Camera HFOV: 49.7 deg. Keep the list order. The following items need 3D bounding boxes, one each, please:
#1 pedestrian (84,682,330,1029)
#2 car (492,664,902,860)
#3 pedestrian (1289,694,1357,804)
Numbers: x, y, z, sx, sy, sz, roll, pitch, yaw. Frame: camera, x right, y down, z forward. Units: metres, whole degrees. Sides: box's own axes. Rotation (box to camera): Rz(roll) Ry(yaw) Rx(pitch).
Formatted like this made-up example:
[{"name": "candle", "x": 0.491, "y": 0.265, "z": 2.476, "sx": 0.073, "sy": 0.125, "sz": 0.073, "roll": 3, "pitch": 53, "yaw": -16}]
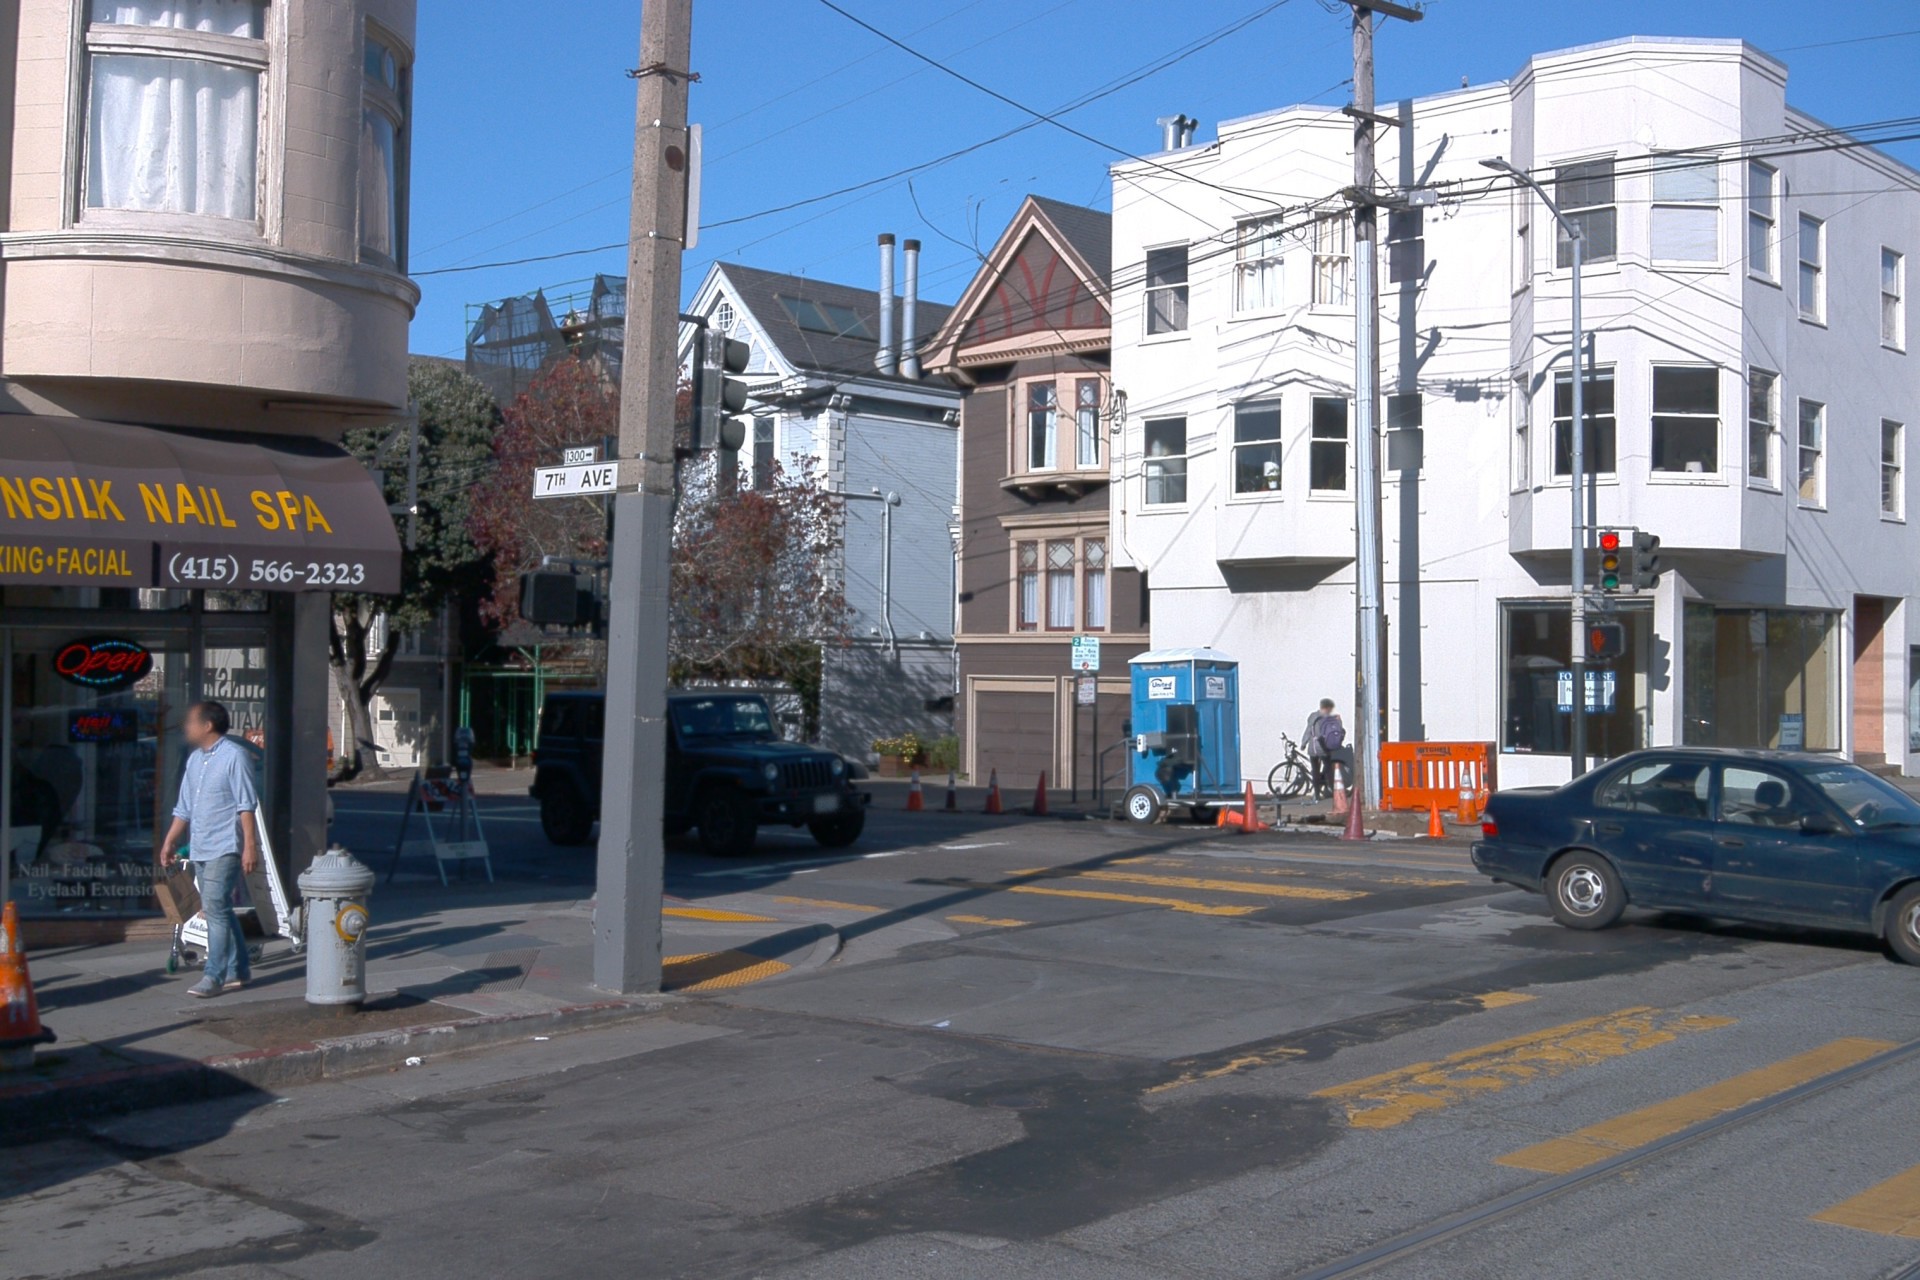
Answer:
[{"name": "pedestrian", "x": -4.436, "y": 1.211, "z": 12.212, "sx": 1.022, "sy": 1.889, "sz": 1.001, "roll": 0, "pitch": 0, "yaw": 44}, {"name": "car", "x": -3.139, "y": 1.299, "z": 24.023, "sx": 4.903, "sy": 1.990, "sz": 2.075, "roll": 0, "pitch": 0, "yaw": 44}, {"name": "pedestrian", "x": 5.778, "y": 1.720, "z": 33.032, "sx": 0.803, "sy": 1.690, "sz": 0.726, "roll": 0, "pitch": 0, "yaw": -23}]
